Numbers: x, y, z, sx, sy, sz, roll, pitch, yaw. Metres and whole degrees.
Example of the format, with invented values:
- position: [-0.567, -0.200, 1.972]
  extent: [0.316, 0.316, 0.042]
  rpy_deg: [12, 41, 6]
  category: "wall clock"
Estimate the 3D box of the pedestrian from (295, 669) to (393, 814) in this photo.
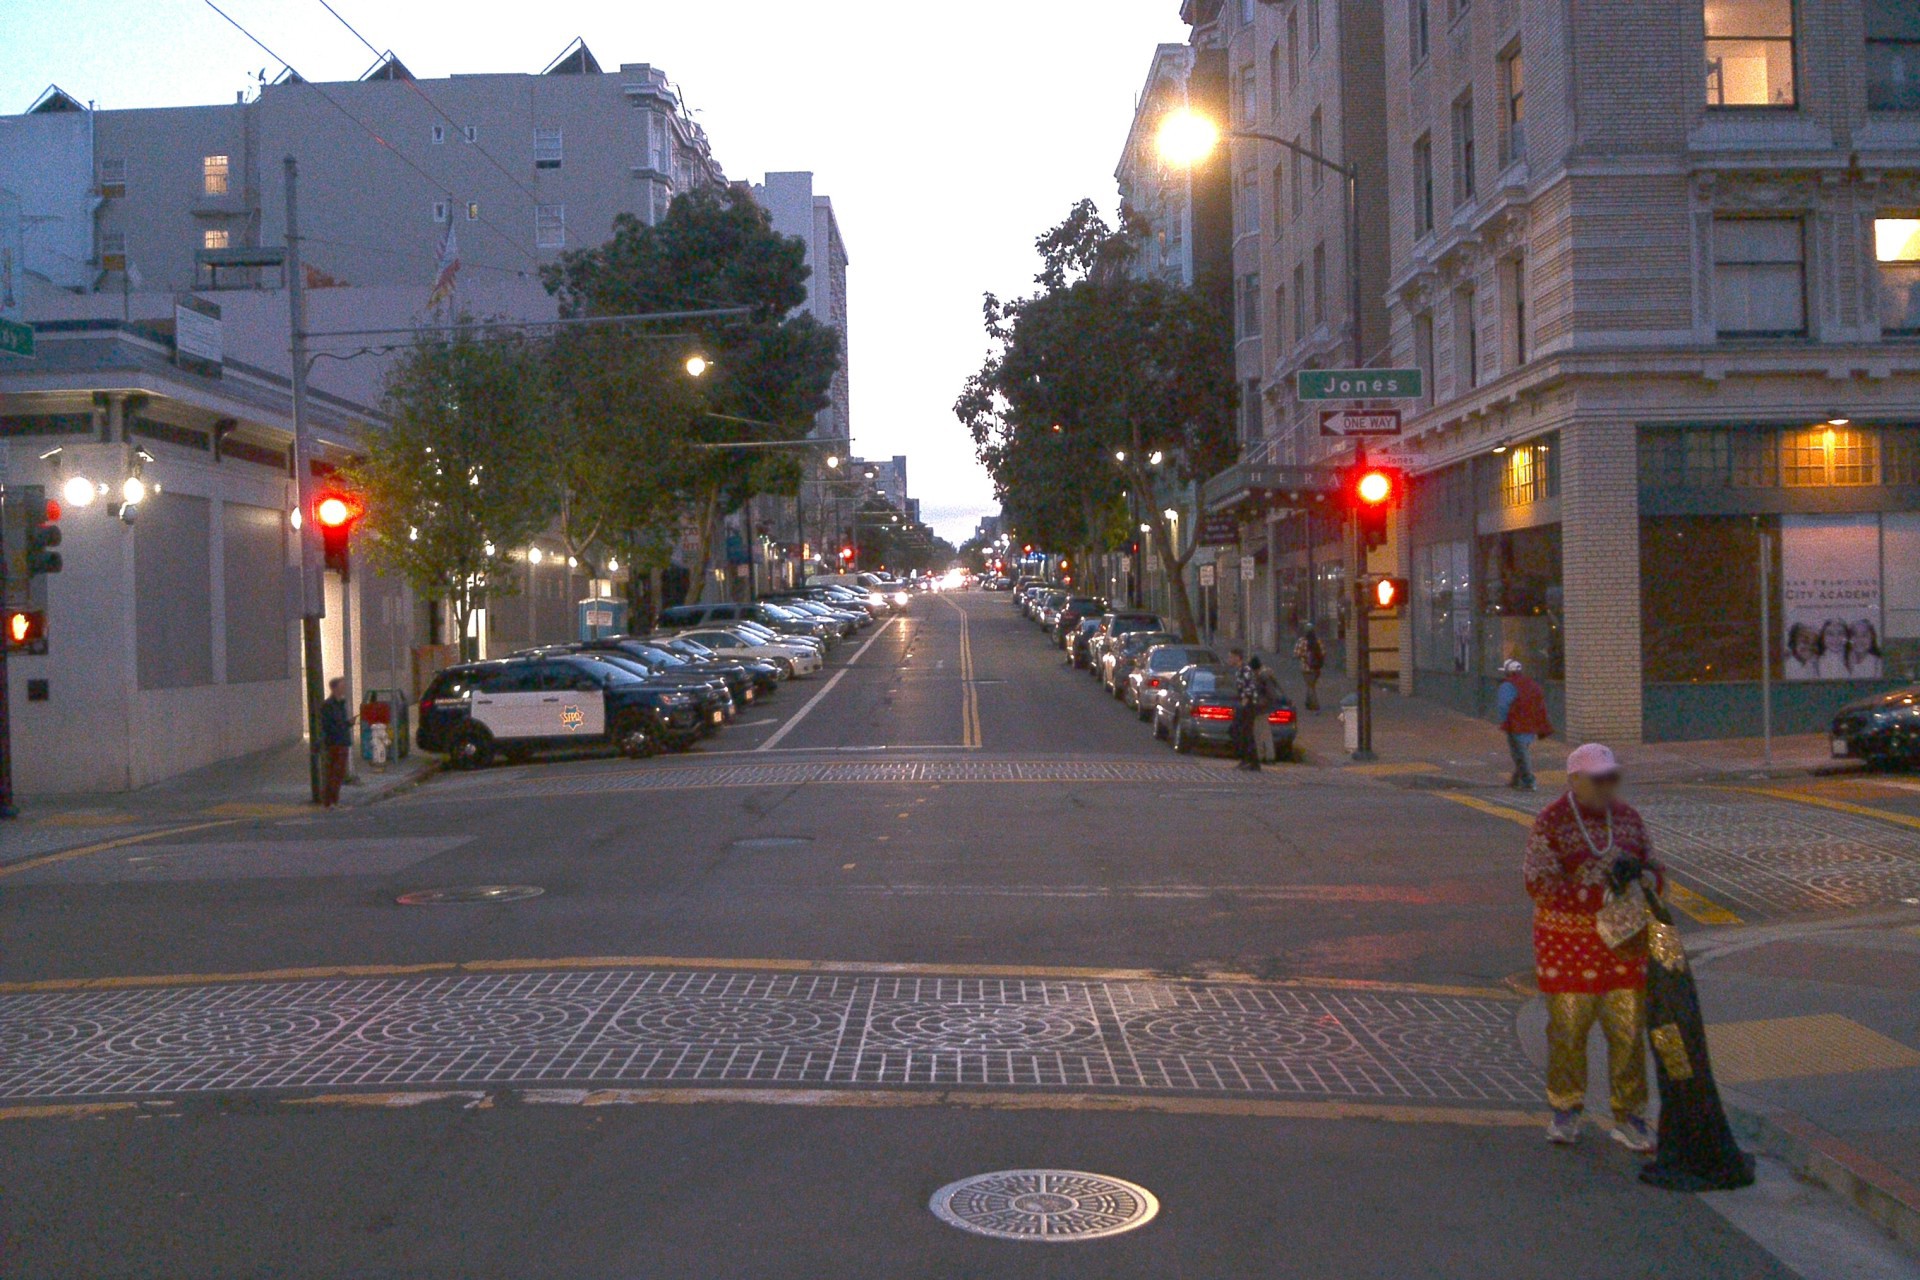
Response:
- position: [-8.354, 1.365, 27.900]
  extent: [1.099, 1.930, 0.689]
  rpy_deg: [0, 1, 3]
  category: "pedestrian"

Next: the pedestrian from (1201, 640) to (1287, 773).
- position: [3.955, 0.919, 28.668]
  extent: [1.075, 1.820, 0.594]
  rpy_deg: [0, 1, -6]
  category: "pedestrian"

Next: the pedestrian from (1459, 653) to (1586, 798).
- position: [6.499, 0.967, 23.796]
  extent: [0.996, 1.590, 1.004]
  rpy_deg: [-1, 1, -30]
  category: "pedestrian"

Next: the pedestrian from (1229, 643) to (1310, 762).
- position: [4.533, 0.903, 30.170]
  extent: [1.000, 1.700, 1.000]
  rpy_deg: [0, 1, -3]
  category: "pedestrian"
